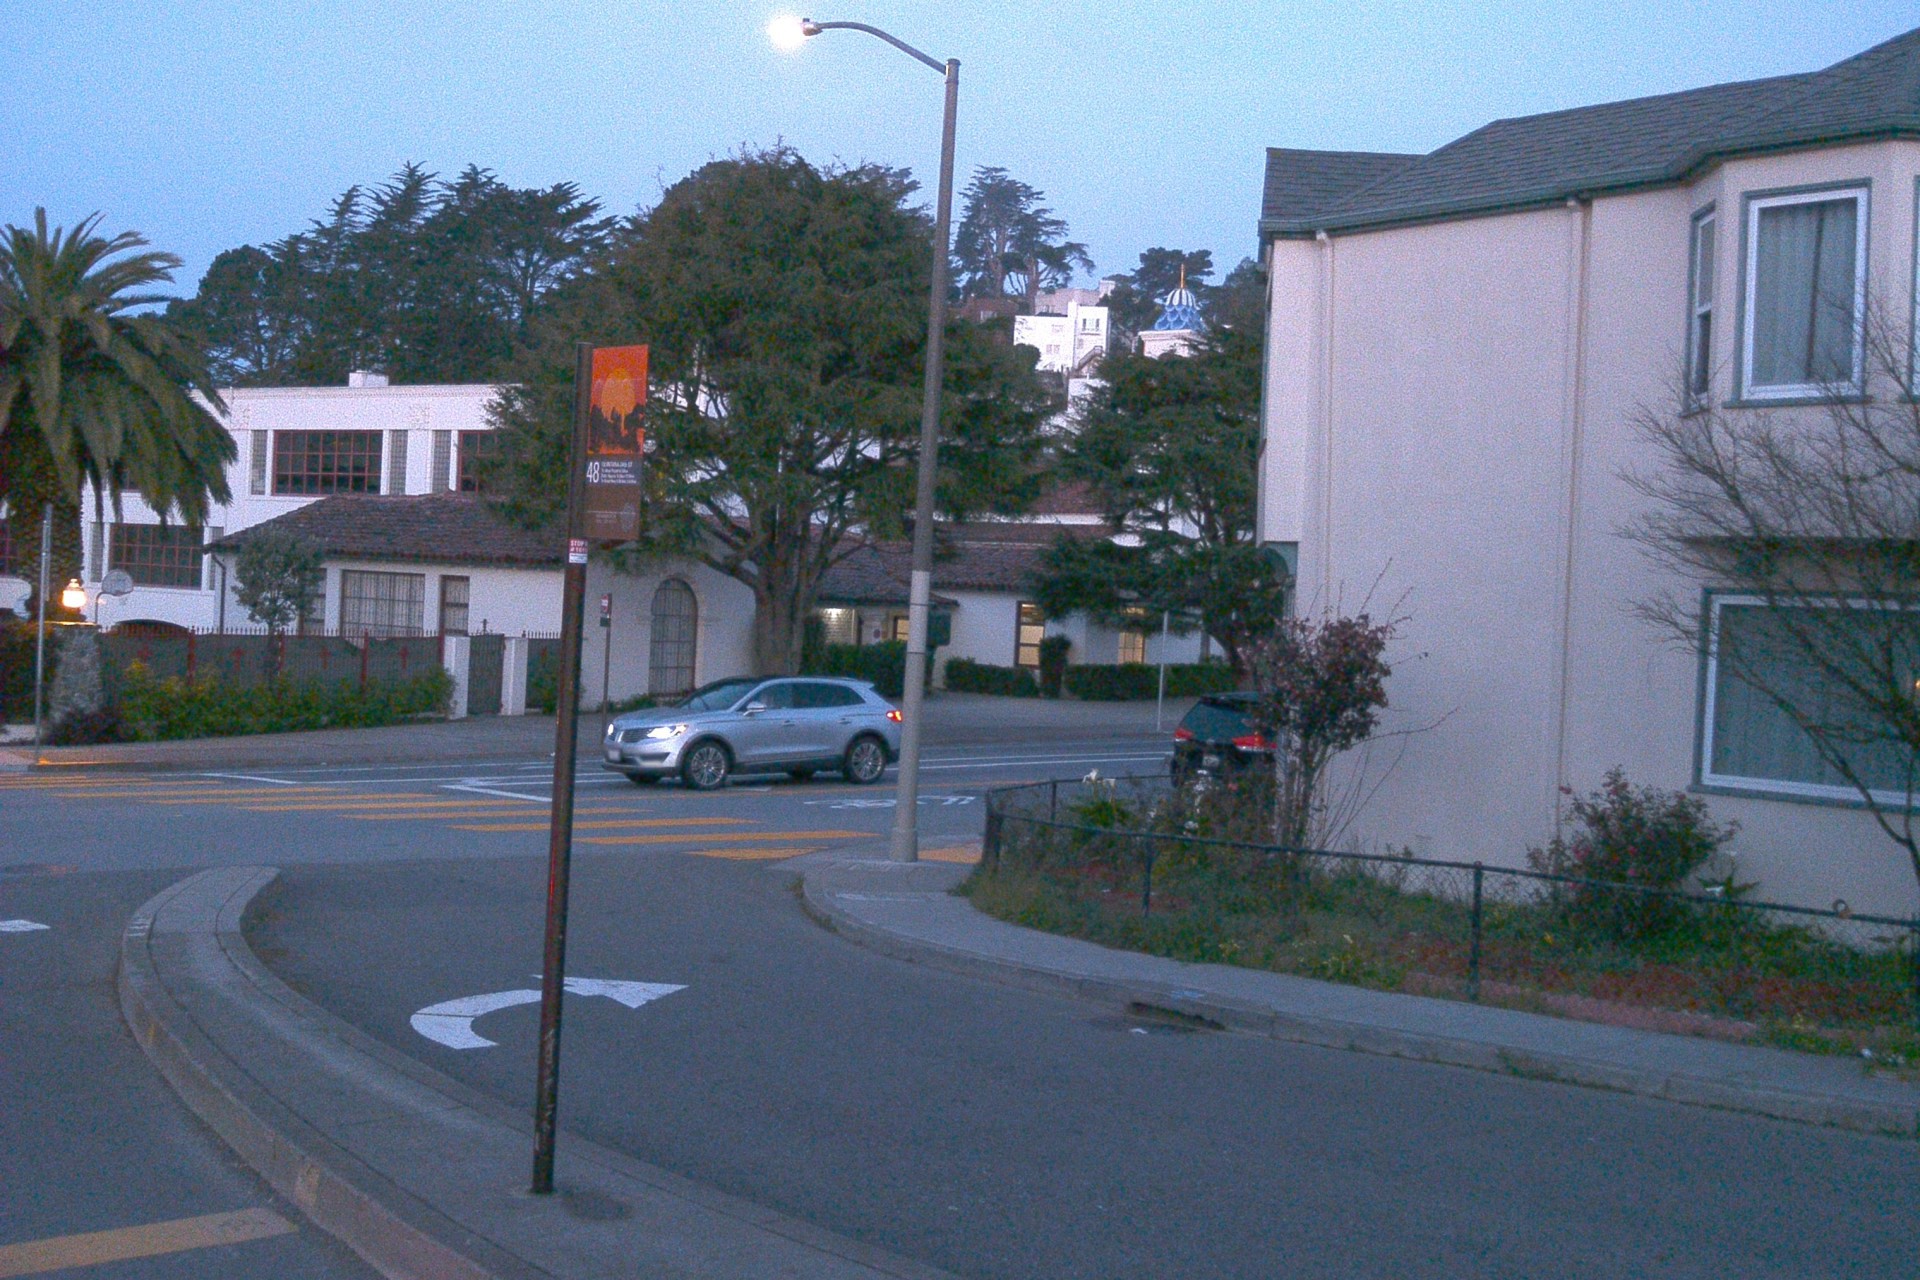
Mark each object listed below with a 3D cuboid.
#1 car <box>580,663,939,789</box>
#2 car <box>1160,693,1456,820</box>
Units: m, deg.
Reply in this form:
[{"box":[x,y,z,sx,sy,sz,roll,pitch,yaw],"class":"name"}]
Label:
[{"box":[-2.961,1.237,31.650,5.027,1.730,2.150,1,0,-39],"class":"car"},{"box":[5.027,1.624,30.201,3.819,1.660,2.058,1,0,-34],"class":"car"}]
